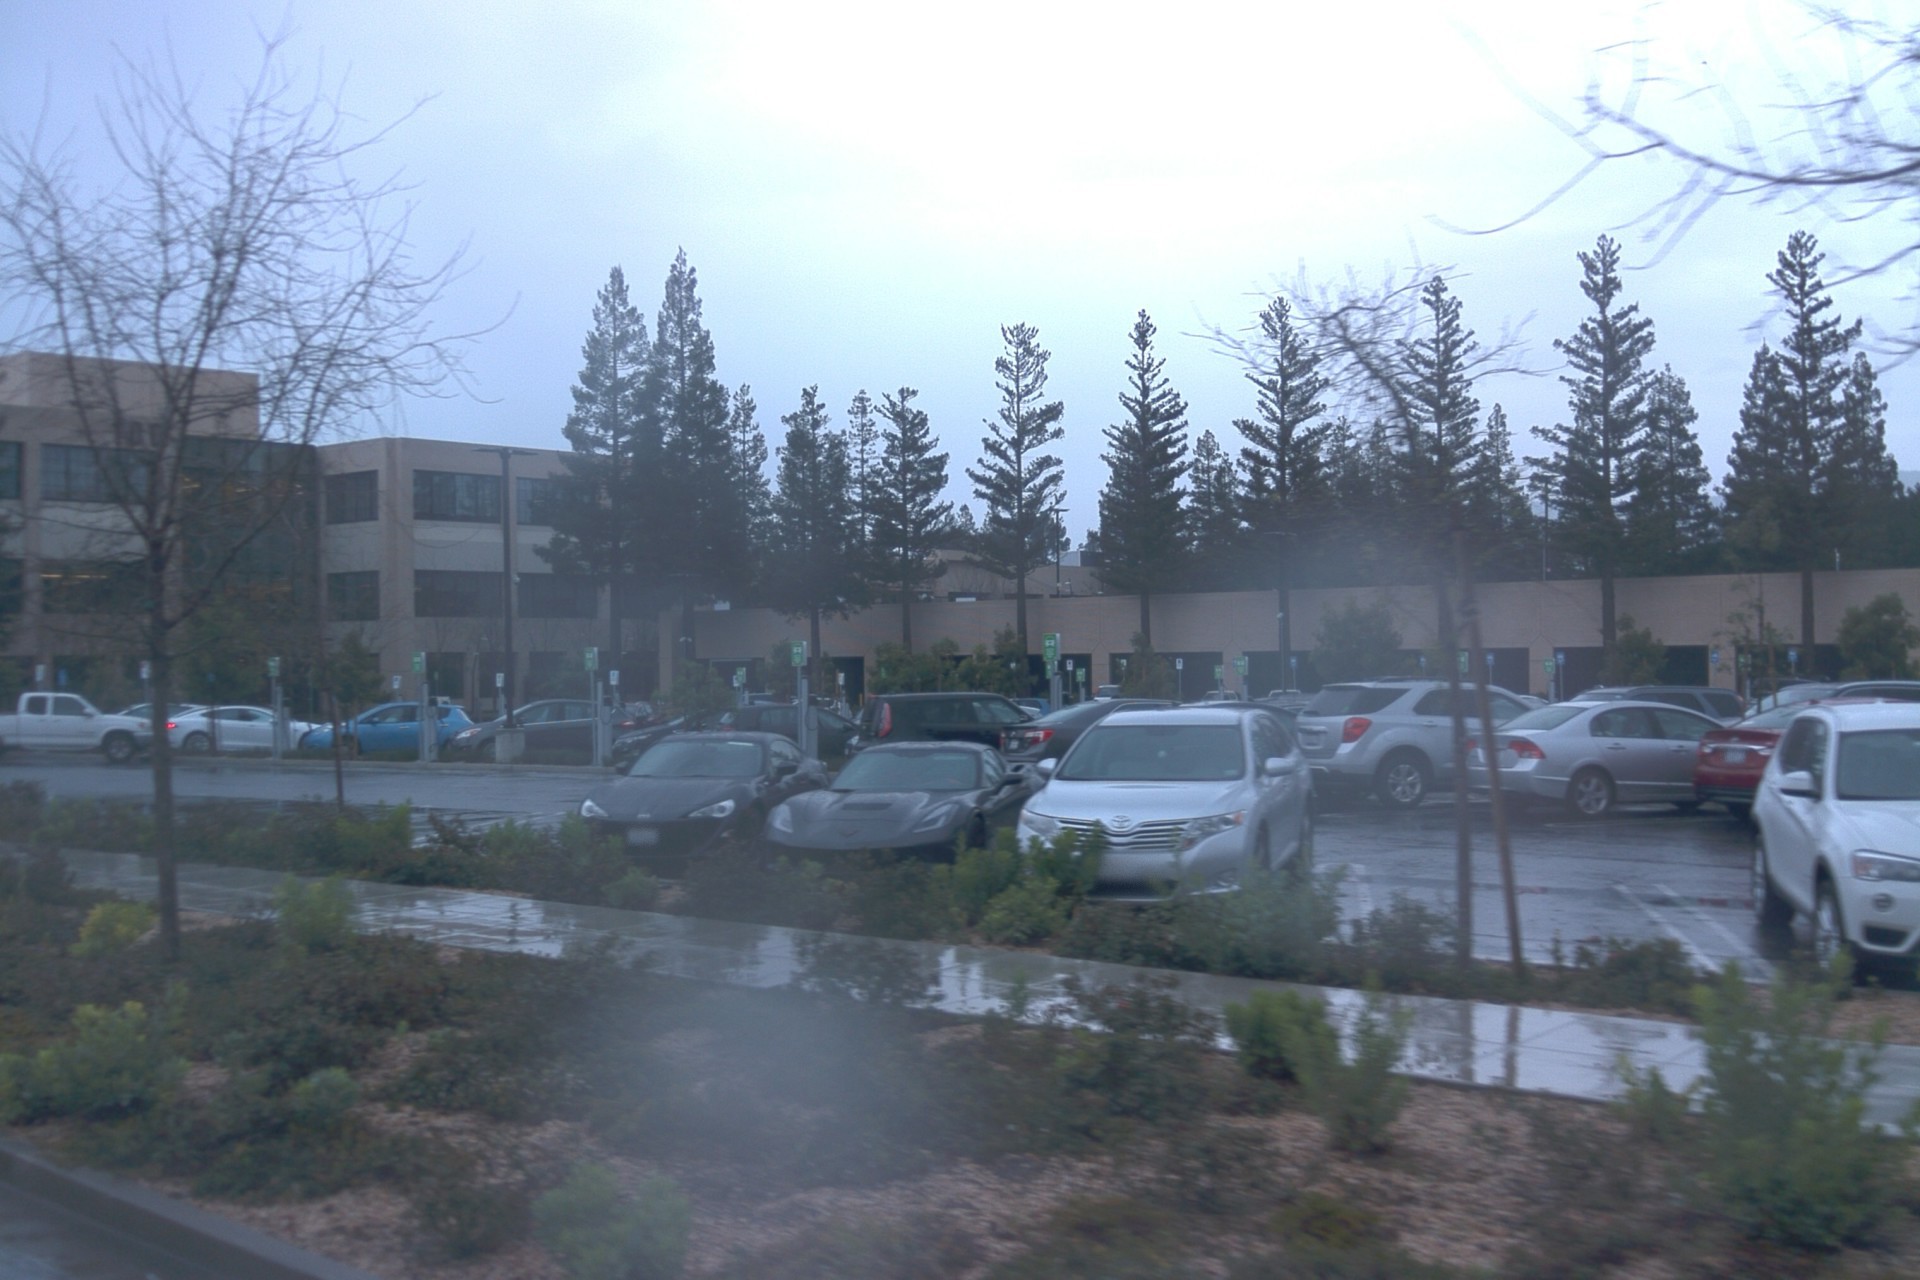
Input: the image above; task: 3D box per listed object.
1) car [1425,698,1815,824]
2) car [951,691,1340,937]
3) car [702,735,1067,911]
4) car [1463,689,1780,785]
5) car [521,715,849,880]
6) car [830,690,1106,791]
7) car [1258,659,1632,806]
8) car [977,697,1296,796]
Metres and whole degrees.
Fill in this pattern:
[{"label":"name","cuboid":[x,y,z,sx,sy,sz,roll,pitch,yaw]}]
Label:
[{"label":"car","cuboid":[8.184,1.458,25.876,4.194,1.420,2.077,0,-1,-18]},{"label":"car","cuboid":[1.746,1.323,17.606,2.247,1.710,4.766,0,-1,18]},{"label":"car","cuboid":[-0.558,1.636,19.775,2.186,1.300,4.497,0,-1,16]},{"label":"car","cuboid":[10.227,1.463,32.181,4.380,1.390,1.925,0,-1,-18]},{"label":"car","cuboid":[-2.711,1.543,21.589,2.010,1.430,4.226,0,-1,13]},{"label":"car","cuboid":[0.110,1.586,33.504,4.050,1.520,1.923,0,-1,-16]},{"label":"car","cuboid":[6.498,1.197,27.948,4.498,1.870,2.011,0,-1,-18]},{"label":"car","cuboid":[2.676,1.578,31.594,4.447,1.380,1.886,0,-1,-21]}]
